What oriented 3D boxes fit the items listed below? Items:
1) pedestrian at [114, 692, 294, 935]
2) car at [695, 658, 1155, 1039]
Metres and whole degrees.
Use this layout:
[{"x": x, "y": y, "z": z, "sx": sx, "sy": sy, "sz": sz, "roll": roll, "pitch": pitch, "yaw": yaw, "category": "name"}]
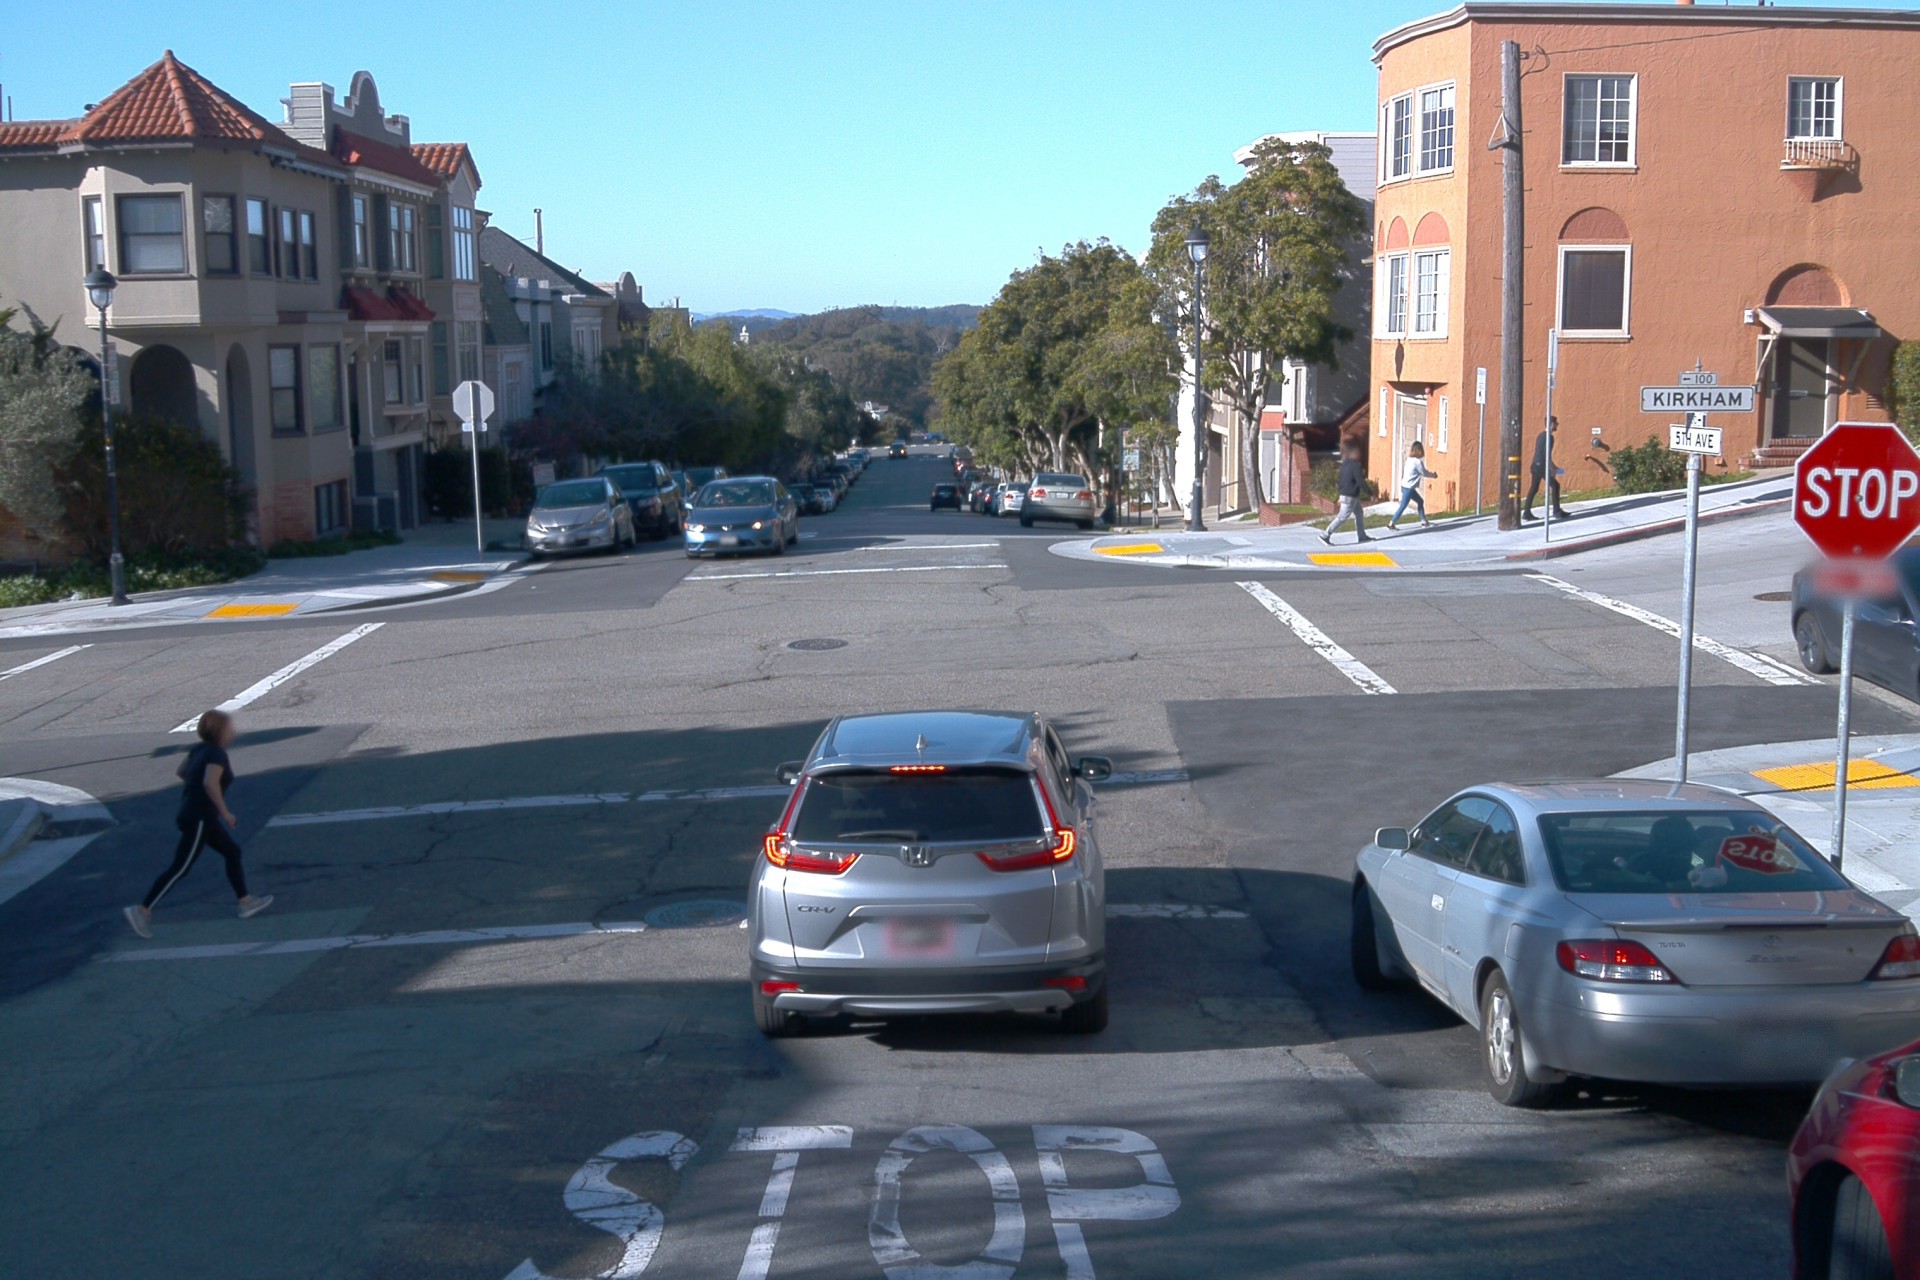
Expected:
[{"x": -5.333, "y": 1.189, "z": 14.597, "sx": 1.128, "sy": 1.620, "sz": 0.731, "roll": 0, "pitch": 0, "yaw": -25, "category": "pedestrian"}, {"x": -0.180, "y": 1.015, "z": 12.235, "sx": 2.191, "sy": 1.800, "sz": 4.695, "roll": 0, "pitch": 0, "yaw": 0, "category": "car"}]
